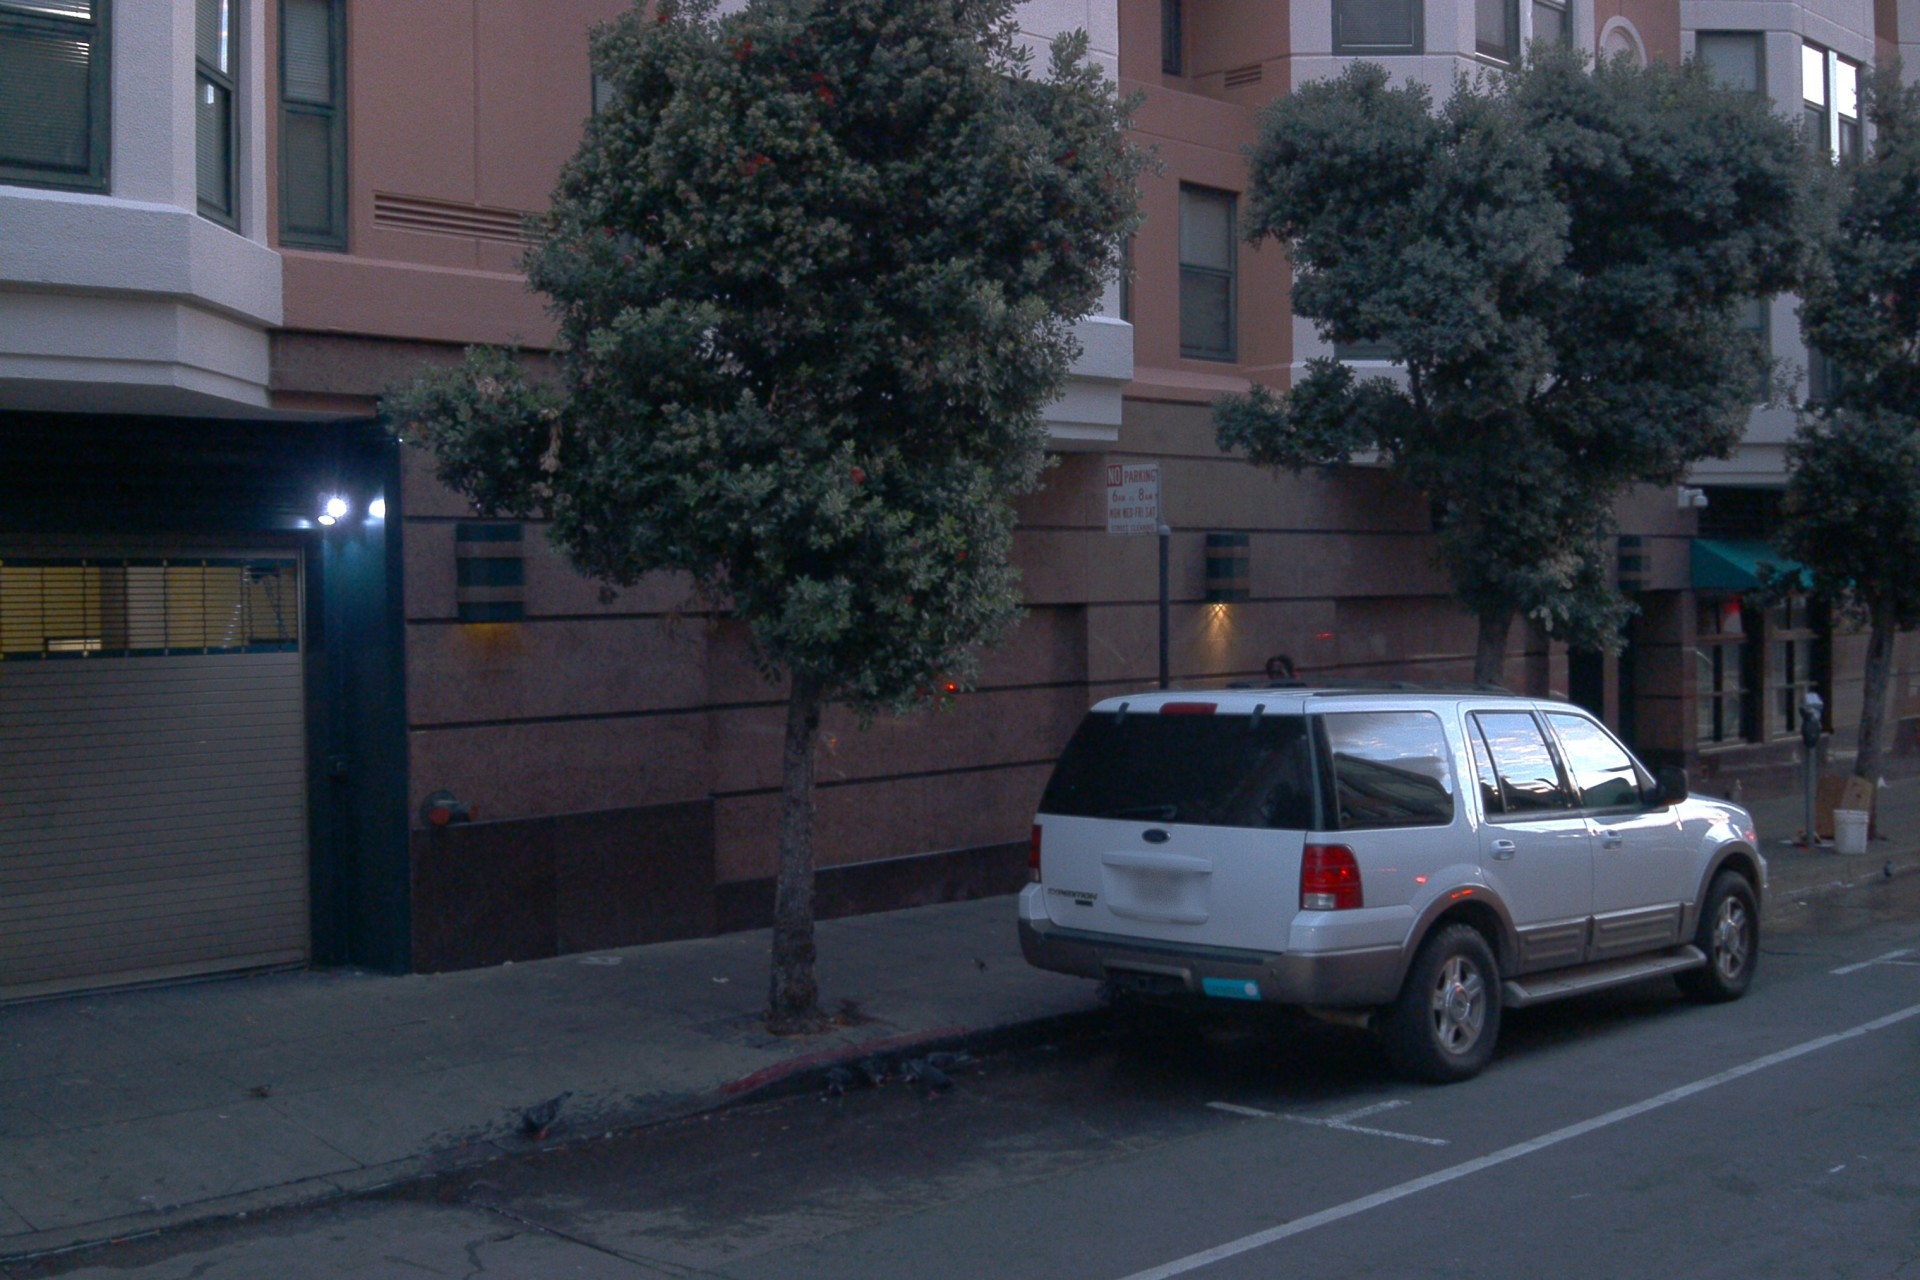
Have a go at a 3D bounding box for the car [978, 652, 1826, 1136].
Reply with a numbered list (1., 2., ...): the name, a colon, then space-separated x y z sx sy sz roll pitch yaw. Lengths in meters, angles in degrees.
1. car: 2.666 1.111 11.382 2.194 1.990 5.086 1 1 45

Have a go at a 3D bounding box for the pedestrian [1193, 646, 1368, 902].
1. pedestrian: 2.455 0.989 15.688 1.059 1.860 0.828 -1 1 -40
